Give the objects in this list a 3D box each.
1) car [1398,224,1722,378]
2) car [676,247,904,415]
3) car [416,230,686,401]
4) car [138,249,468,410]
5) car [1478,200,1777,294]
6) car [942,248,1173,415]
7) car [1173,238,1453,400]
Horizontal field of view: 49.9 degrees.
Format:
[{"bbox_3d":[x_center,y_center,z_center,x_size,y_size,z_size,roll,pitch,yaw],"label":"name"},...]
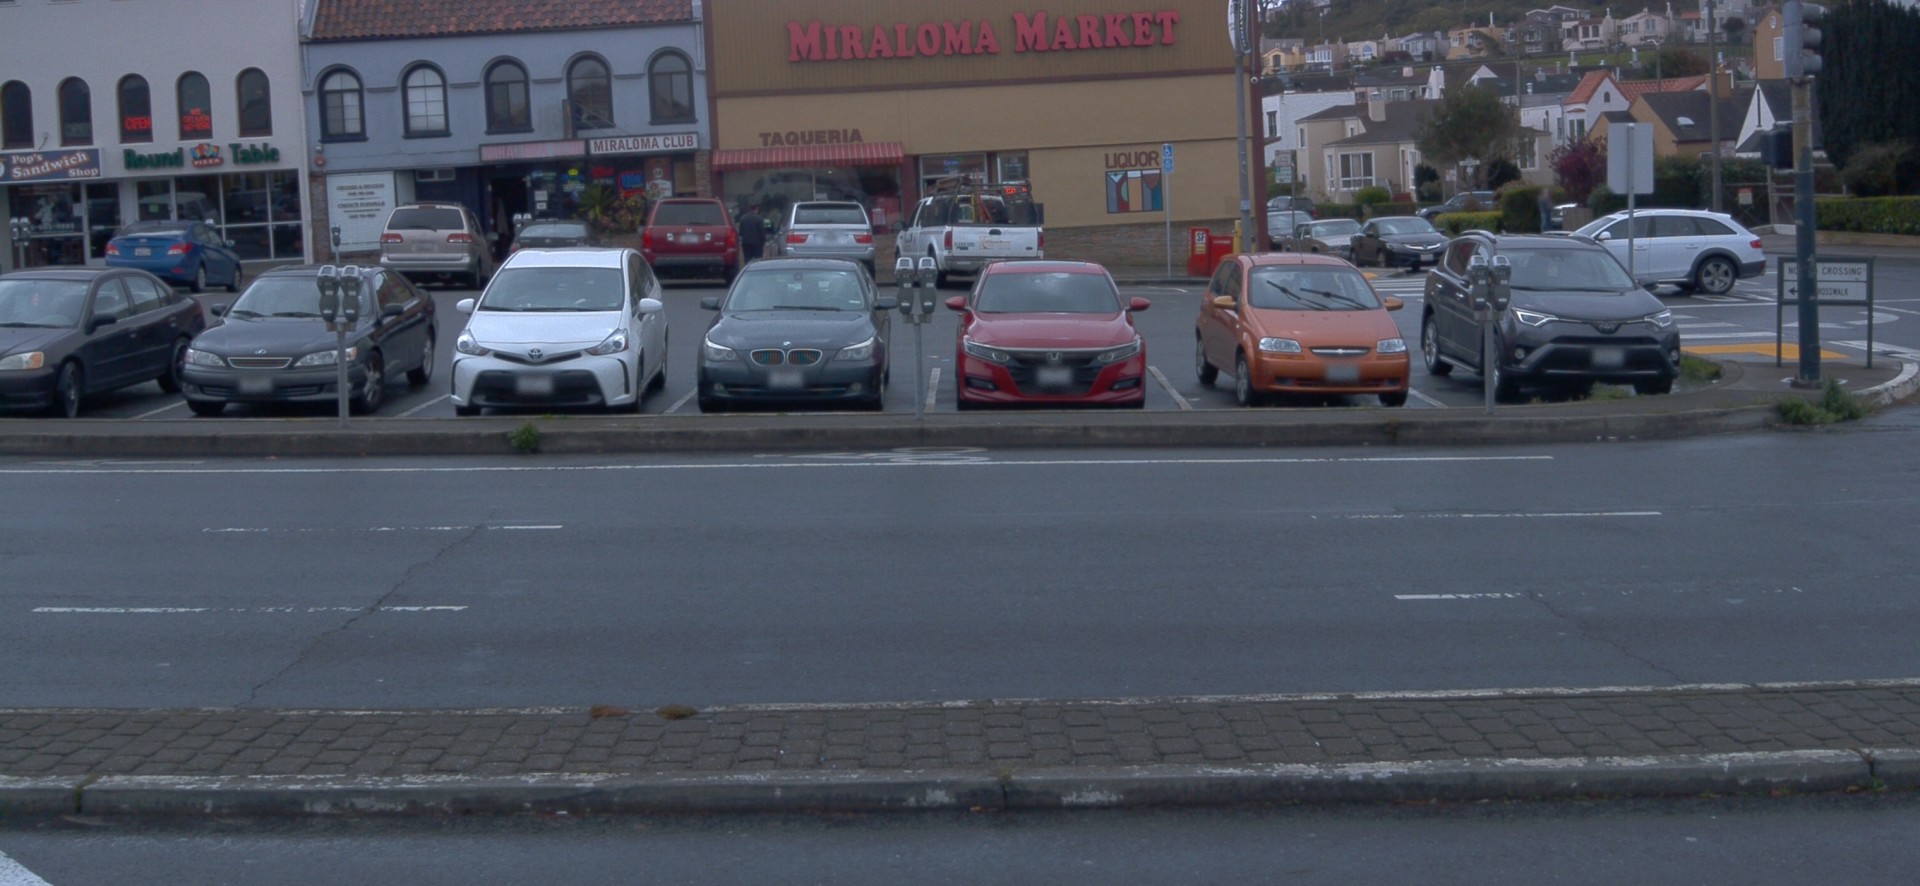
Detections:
[{"bbox_3d":[6.387,-1.639,22.575,2.205,1.461,4.580,0,6,0],"label":"car"},{"bbox_3d":[-1.660,-1.268,21.658,2.112,1.461,4.574,0,6,-1],"label":"car"},{"bbox_3d":[-4.066,-1.415,21.314,2.132,1.491,4.678,0,6,-4],"label":"car"},{"bbox_3d":[-6.720,-1.283,21.702,2.023,1.392,4.712,0,6,-1],"label":"car"},{"bbox_3d":[11.652,-3.474,36.289,4.650,1.604,2.082,0,5,3],"label":"car"},{"bbox_3d":[0.904,-1.271,21.830,2.185,1.461,4.636,0,6,-1],"label":"car"},{"bbox_3d":[3.604,-1.395,21.811,2.049,1.462,4.037,0,6,-4],"label":"car"}]
